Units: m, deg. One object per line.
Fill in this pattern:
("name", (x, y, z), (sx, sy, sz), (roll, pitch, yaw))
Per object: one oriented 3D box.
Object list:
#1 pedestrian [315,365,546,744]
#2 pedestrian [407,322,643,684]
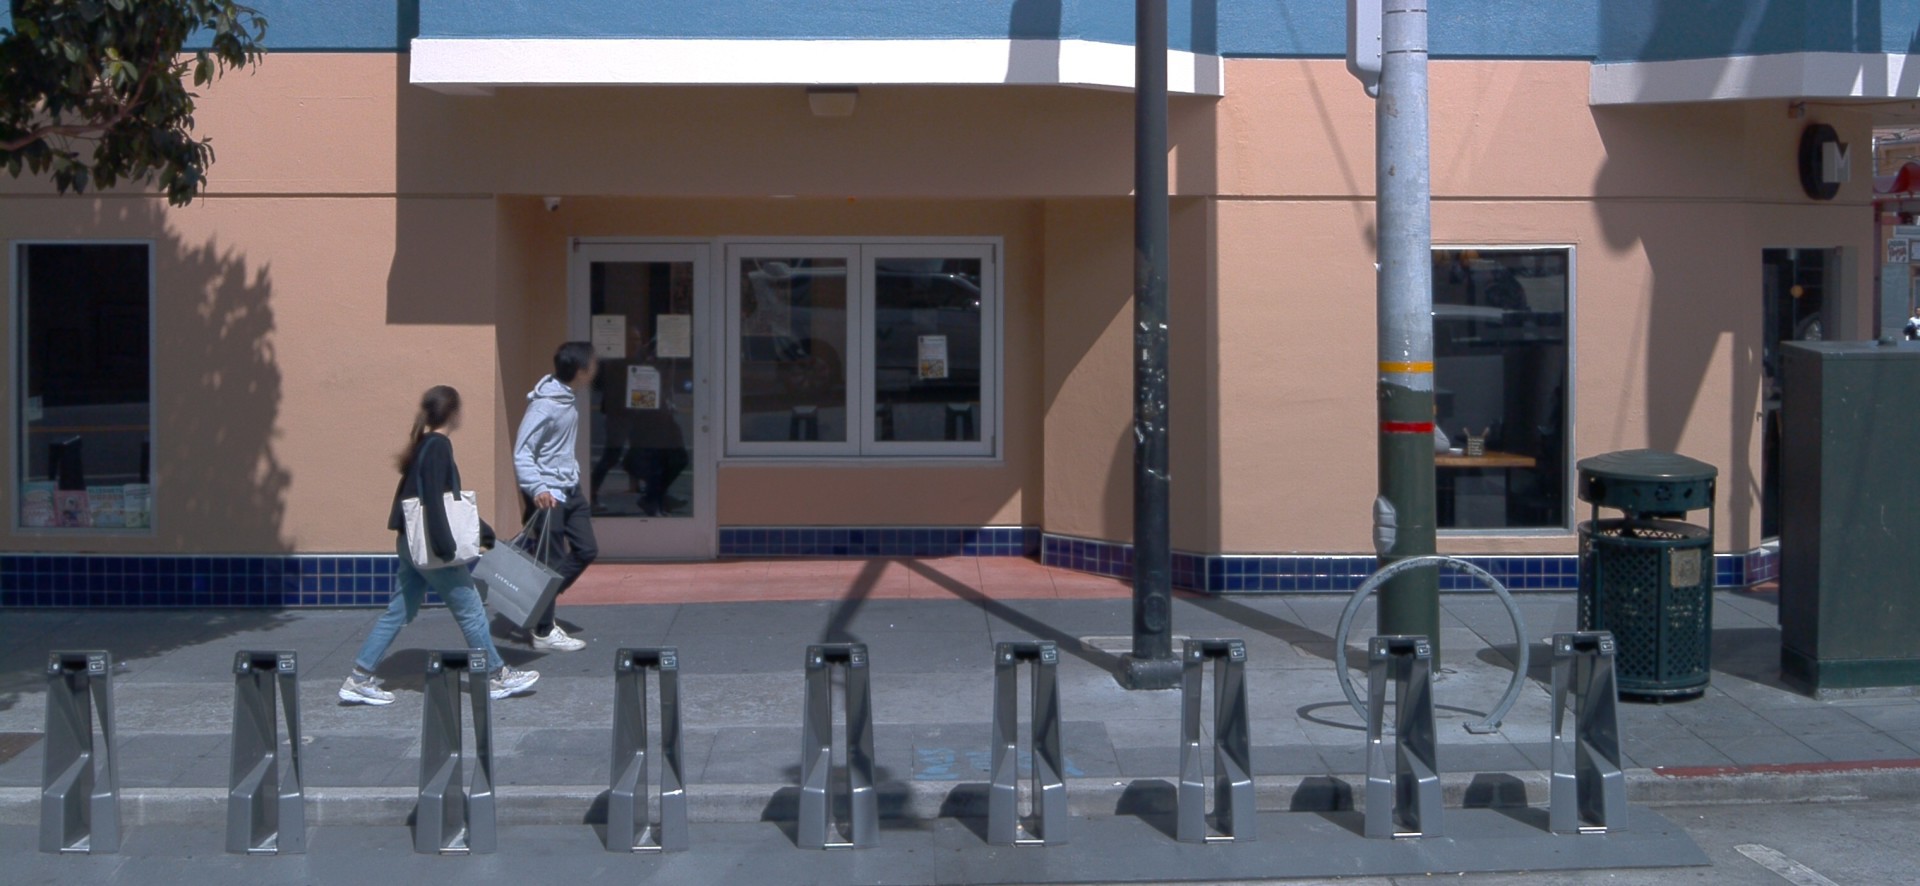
("pedestrian", (-2.607, 0.502, 10.207), (1.038, 1.676, 0.886), (-1, 2, -14))
("pedestrian", (-2.337, 0.286, 11.238), (1.038, 1.826, 0.953), (0, 2, 2))
